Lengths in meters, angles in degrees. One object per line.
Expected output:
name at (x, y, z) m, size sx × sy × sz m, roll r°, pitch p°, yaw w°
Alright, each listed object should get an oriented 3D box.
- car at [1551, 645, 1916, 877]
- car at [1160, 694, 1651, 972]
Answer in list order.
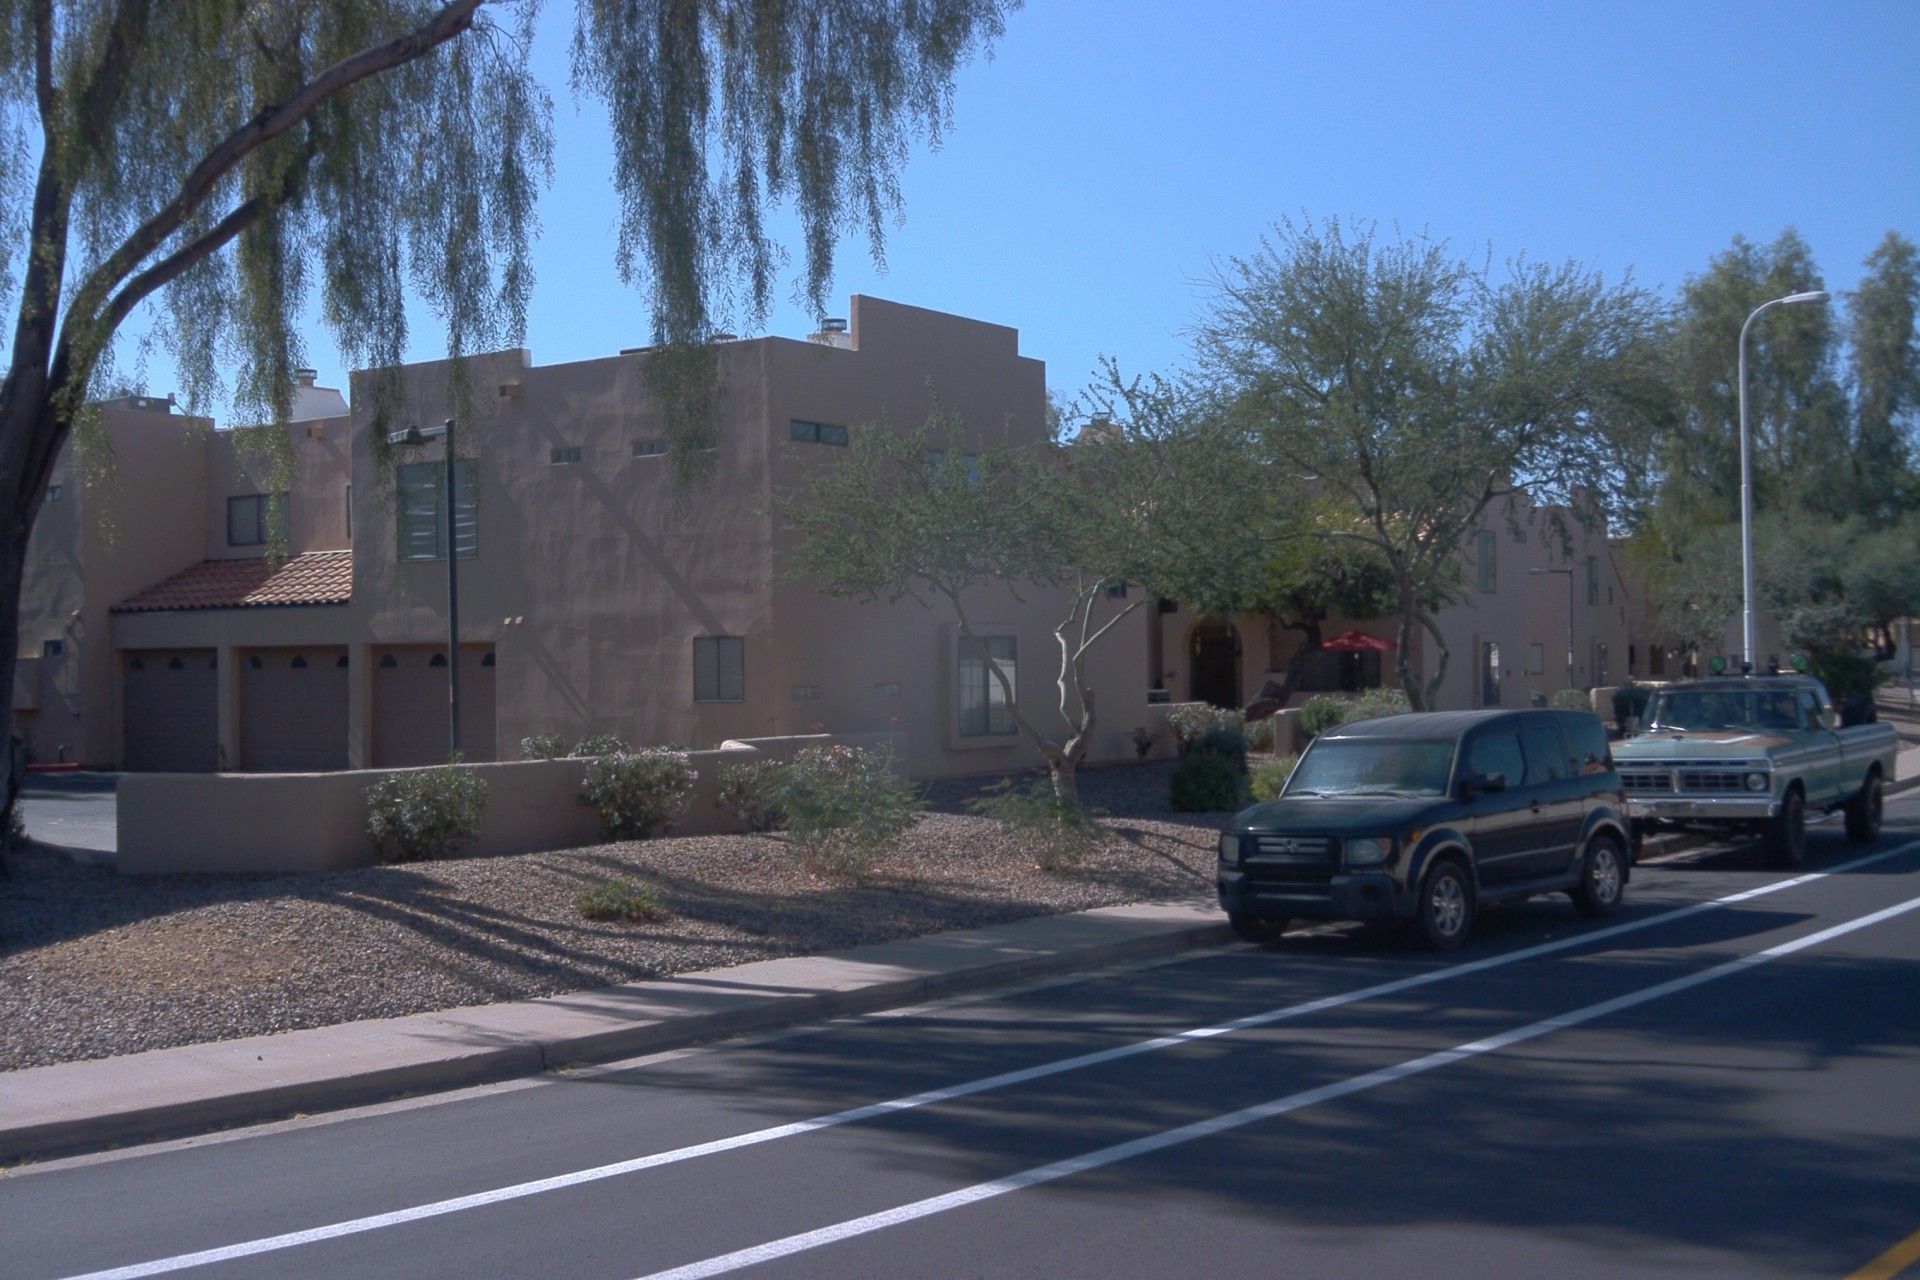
car at (8.862, 1.197, 23.356) m, size 2.407 × 2.270 × 5.623 m, roll 0°, pitch 0°, yaw 36°
car at (3.767, 1.424, 16.960) m, size 1.994 × 1.860 × 4.430 m, roll 0°, pitch 0°, yaw 42°
